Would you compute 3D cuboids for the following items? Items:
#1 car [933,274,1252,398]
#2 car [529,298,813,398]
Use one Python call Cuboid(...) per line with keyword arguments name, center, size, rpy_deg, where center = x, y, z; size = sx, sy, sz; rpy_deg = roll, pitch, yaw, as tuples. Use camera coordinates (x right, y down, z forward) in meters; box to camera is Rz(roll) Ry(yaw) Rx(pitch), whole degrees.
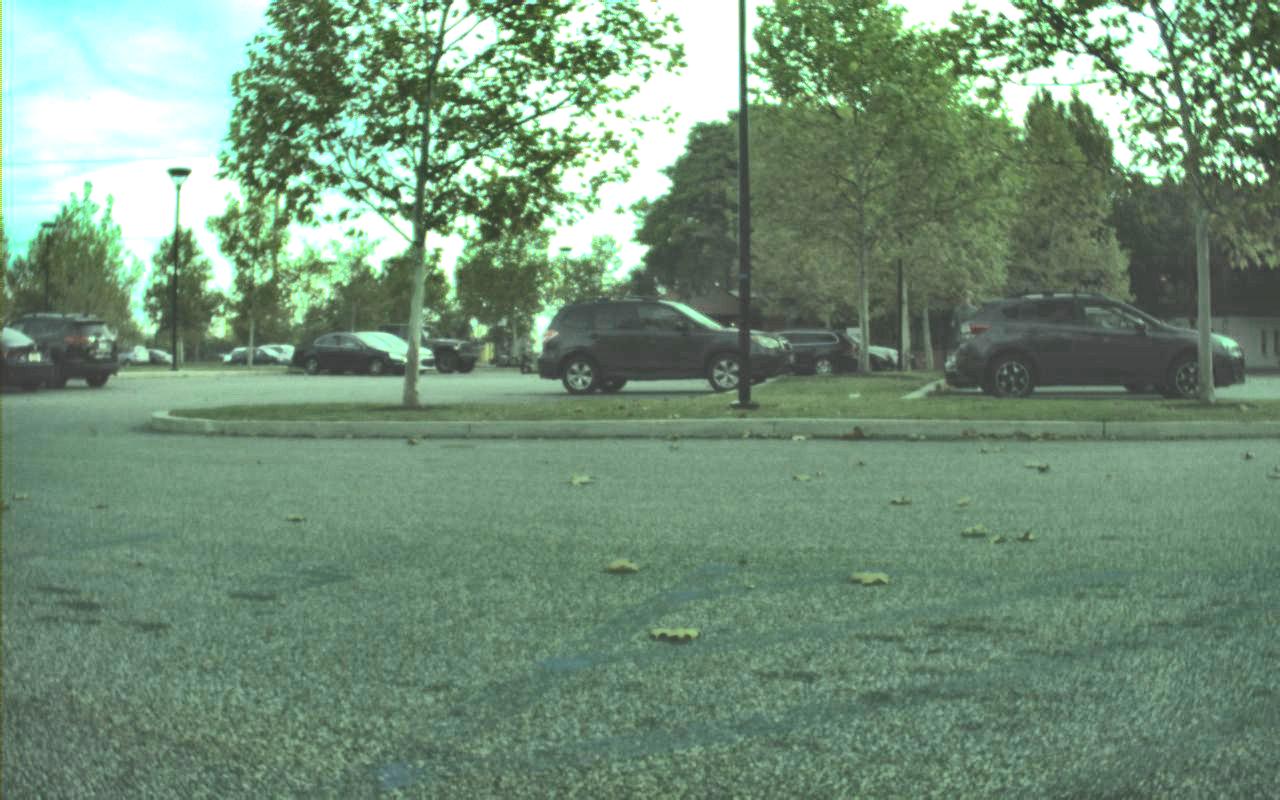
Cuboid(name="car", center=(6.637, -0.890, 17.651), size=(4.721, 1.709, 2.010), rpy_deg=(1, 1, 15))
Cuboid(name="car", center=(0.593, -0.919, 22.550), size=(4.704, 1.661, 2.011), rpy_deg=(1, 1, 16))
